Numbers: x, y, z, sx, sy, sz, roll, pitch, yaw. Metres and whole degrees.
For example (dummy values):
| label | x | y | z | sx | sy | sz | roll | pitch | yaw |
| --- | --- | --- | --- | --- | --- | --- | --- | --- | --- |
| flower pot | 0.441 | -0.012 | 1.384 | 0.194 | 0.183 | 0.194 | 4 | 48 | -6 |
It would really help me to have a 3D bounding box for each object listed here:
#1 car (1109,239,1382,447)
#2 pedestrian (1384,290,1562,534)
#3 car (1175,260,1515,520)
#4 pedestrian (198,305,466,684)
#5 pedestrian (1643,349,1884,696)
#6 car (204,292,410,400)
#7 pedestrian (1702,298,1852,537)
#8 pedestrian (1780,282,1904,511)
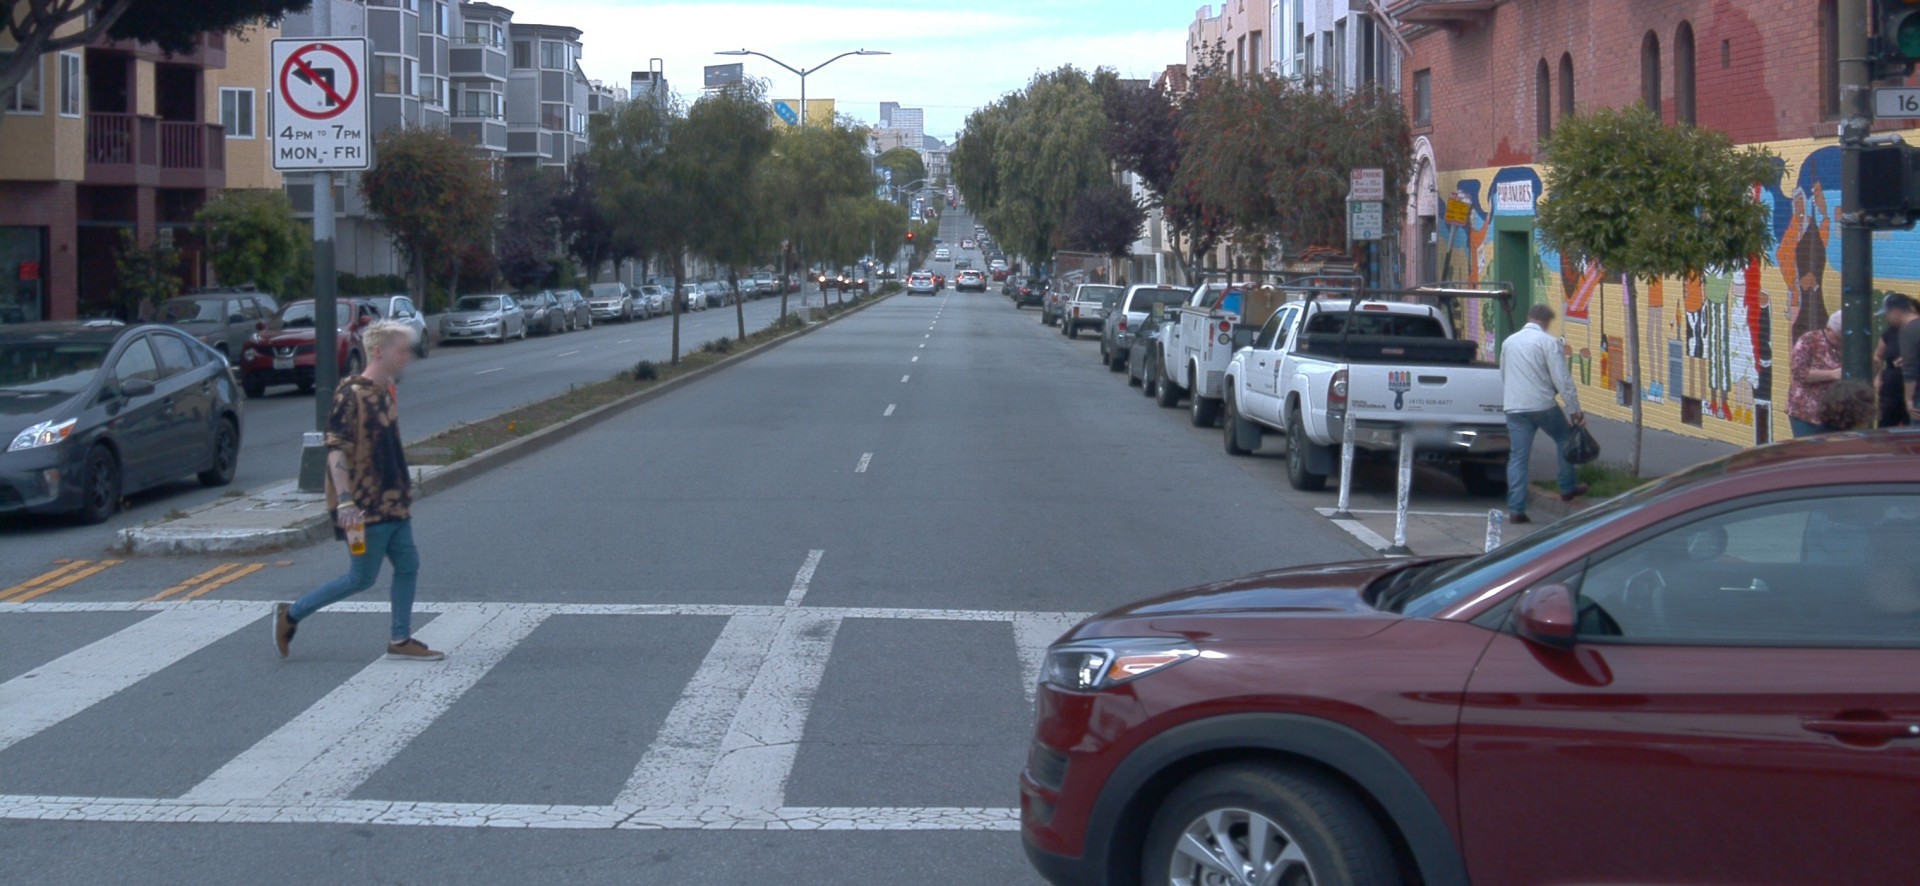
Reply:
| label | x | y | z | sx | sy | sz | roll | pitch | yaw |
| --- | --- | --- | --- | --- | --- | --- | --- | --- | --- |
| car | 3.593 | -1.482 | 27.325 | 2.675 | 2.399 | 6.154 | 0 | 5 | -1 |
| pedestrian | 4.217 | -0.295 | 16.909 | 1.024 | 1.867 | 1.089 | 2 | 3 | 42 |
| car | 3.593 | -0.691 | 20.327 | 2.095 | 2.141 | 5.196 | 0 | 5 | -3 |
| pedestrian | -3.075 | 0.217 | 10.157 | 1.050 | 1.758 | 0.794 | 0 | 2 | 3 |
| pedestrian | 4.026 | 0.364 | 10.354 | 0.841 | 1.617 | 0.774 | 0 | 2 | -10 |
| car | -10.869 | -1.686 | 34.606 | 2.064 | 1.563 | 4.372 | 0 | 5 | 0 |
| pedestrian | 6.060 | -0.211 | 15.302 | 0.795 | 1.707 | 0.762 | 0 | 2 | -1 |
| pedestrian | 7.034 | -0.396 | 16.408 | 0.796 | 1.737 | 0.683 | 1 | 2 | 33 |
